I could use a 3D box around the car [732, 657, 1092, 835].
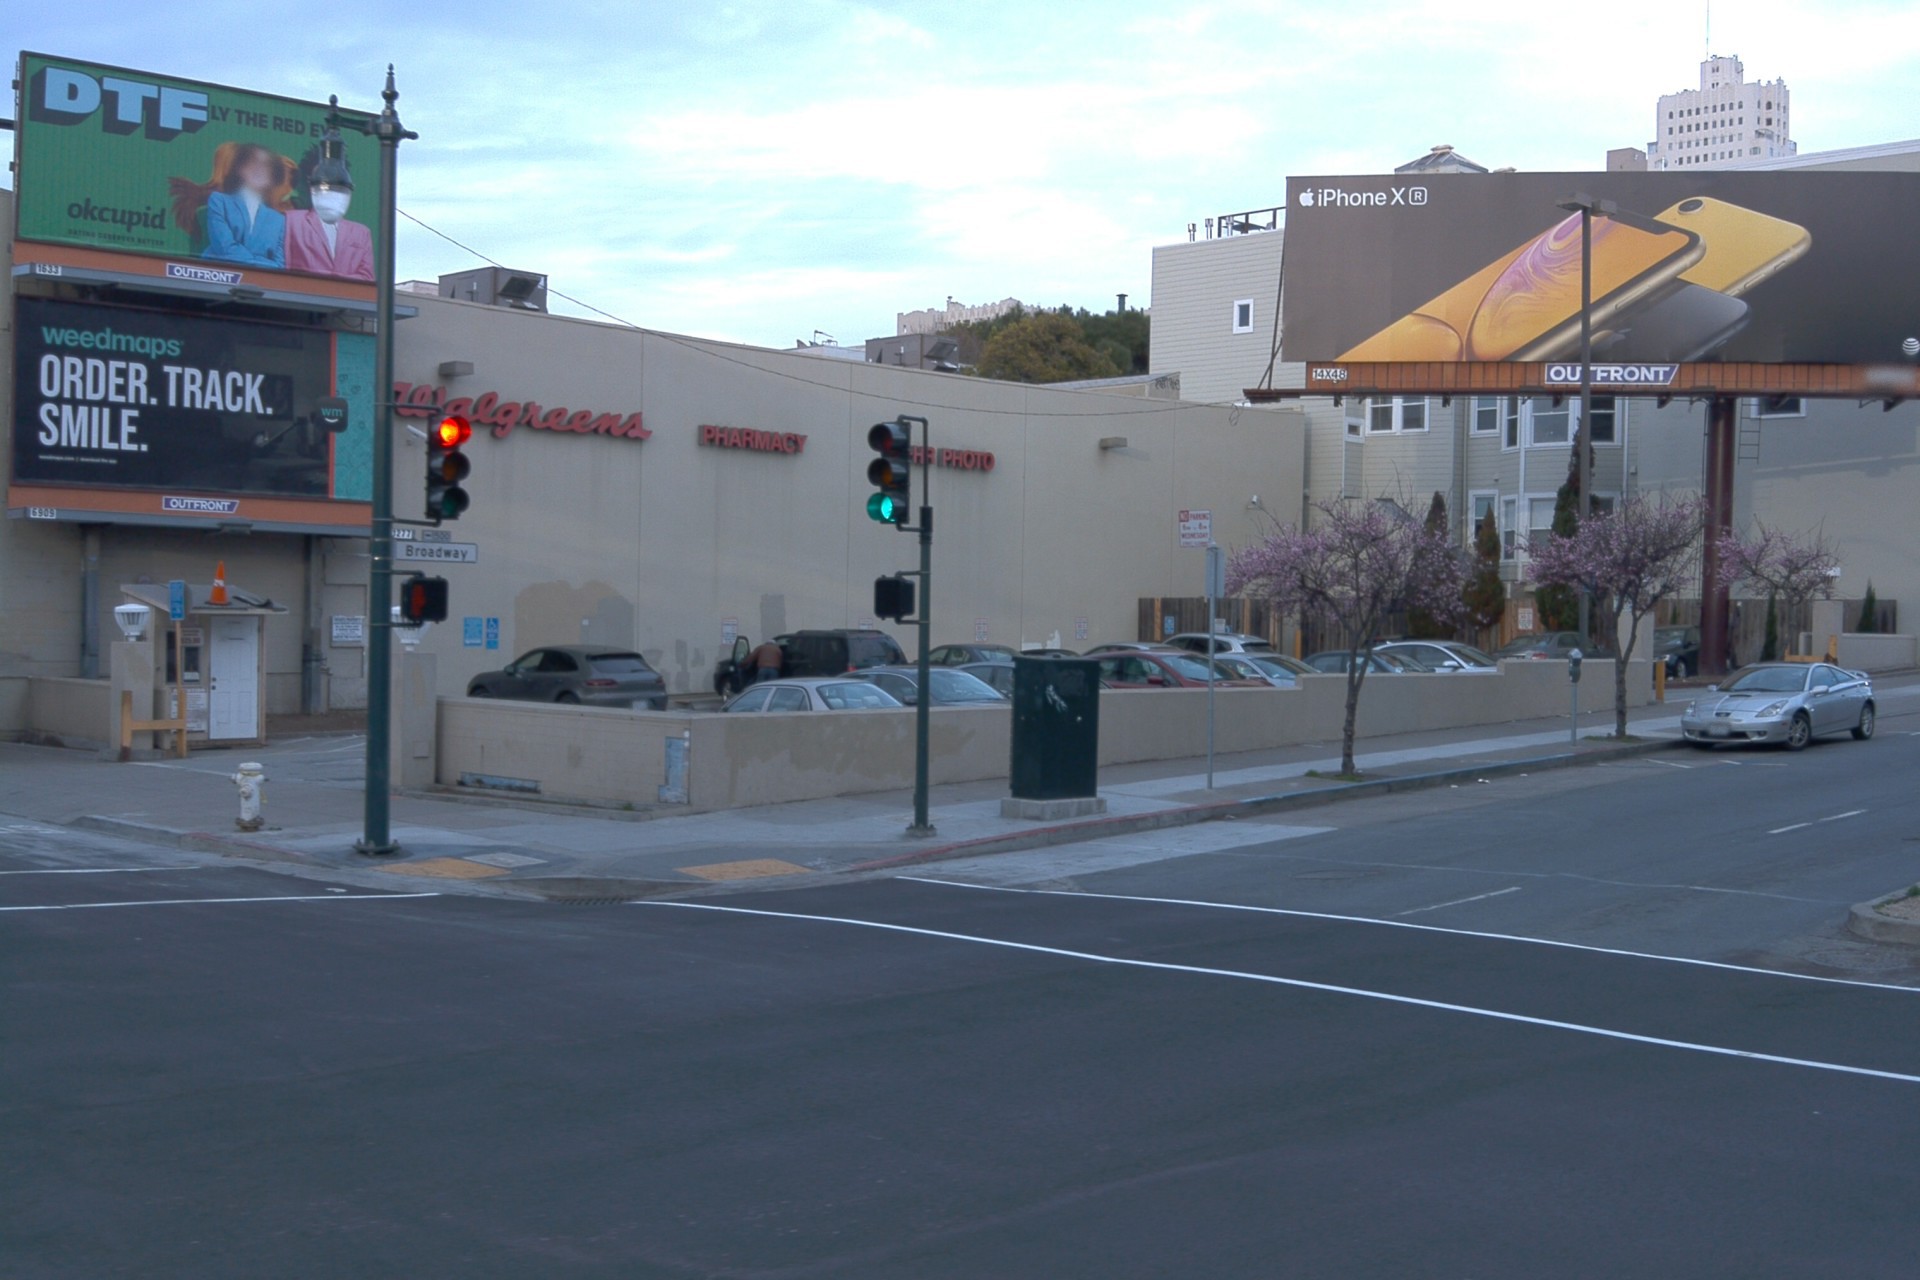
[{"bbox_3d":[-0.755,1.401,29.535,4.854,2.200,2.398,2,1,44],"label":"car"}]

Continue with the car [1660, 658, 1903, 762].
[{"bbox_3d":[12.719,1.021,31.864,1.943,1.430,4.423,2,1,44],"label":"car"}]

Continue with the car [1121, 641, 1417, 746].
[{"bbox_3d":[5.271,0.856,35.687,2.126,1.600,4.704,0,1,-44],"label":"car"}]

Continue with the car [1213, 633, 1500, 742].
[{"bbox_3d":[7.112,0.807,37.416,4.729,1.770,2.001,1,1,42],"label":"car"}]

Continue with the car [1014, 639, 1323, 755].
[{"bbox_3d":[3.328,0.857,33.701,2.176,1.670,4.671,0,1,-45],"label":"car"}]

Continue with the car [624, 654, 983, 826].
[{"bbox_3d":[-2.130,1.214,27.198,4.622,1.949,2.162,2,1,44],"label":"car"}]
